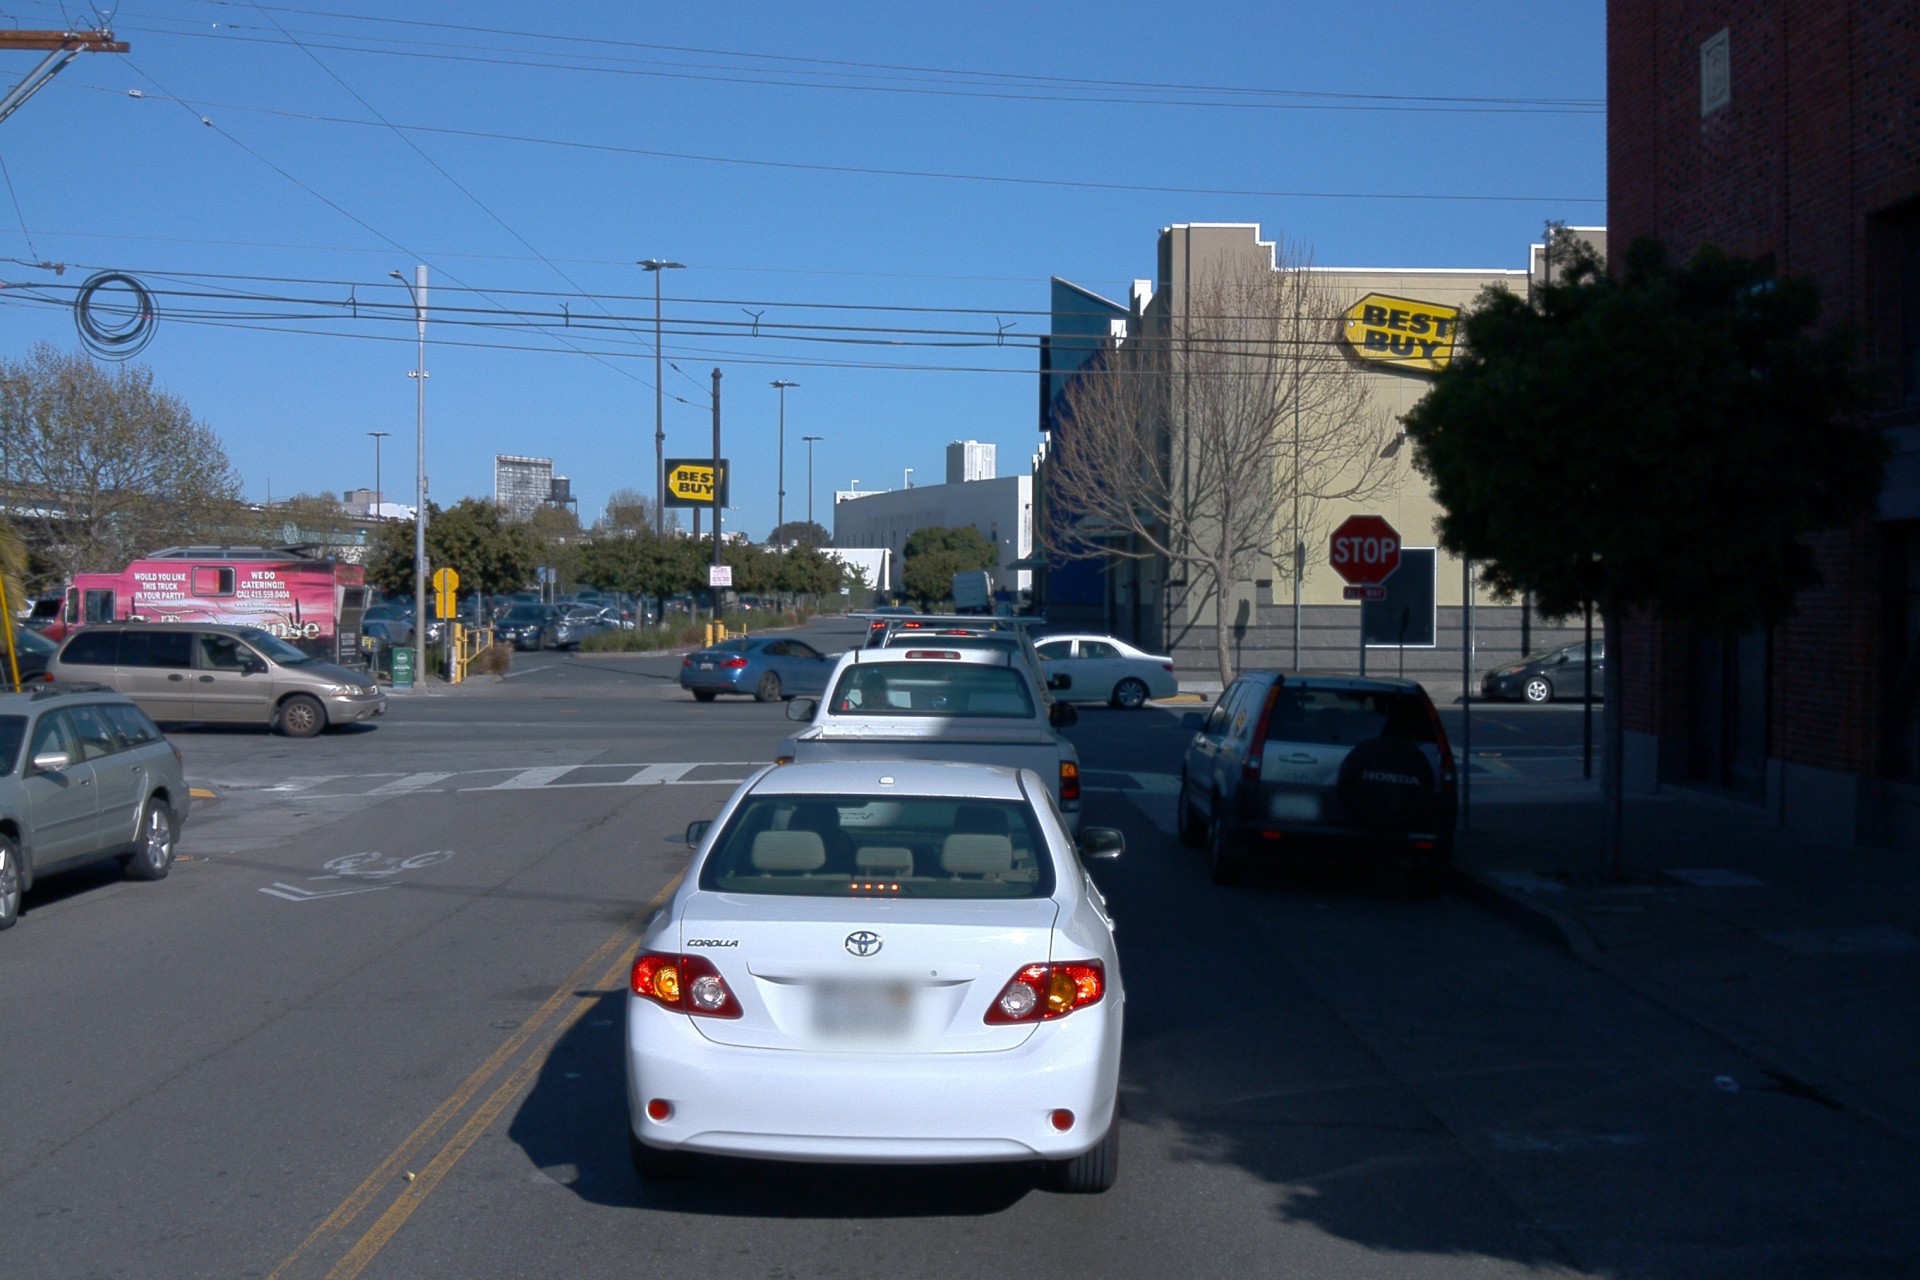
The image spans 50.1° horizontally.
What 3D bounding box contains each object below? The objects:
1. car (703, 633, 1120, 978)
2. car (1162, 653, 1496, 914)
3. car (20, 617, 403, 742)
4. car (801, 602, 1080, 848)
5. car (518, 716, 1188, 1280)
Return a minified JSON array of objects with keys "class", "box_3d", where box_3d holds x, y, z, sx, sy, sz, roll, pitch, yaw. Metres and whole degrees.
[{"class":"car","box_3d":[-0.264,0.951,14.703,2.386,1.880,5.557,1,1,0]},{"class":"car","box_3d":[2.844,1.036,16.830,2.017,1.730,4.285,1,1,1]},{"class":"car","box_3d":[-11.471,0.588,31.775,5.167,1.770,2.031,1,1,-1]},{"class":"car","box_3d":[-0.015,0.709,21.050,2.386,2.140,5.556,1,1,4]},{"class":"car","box_3d":[-0.289,1.248,8.603,2.045,1.580,4.504,1,1,1]}]
